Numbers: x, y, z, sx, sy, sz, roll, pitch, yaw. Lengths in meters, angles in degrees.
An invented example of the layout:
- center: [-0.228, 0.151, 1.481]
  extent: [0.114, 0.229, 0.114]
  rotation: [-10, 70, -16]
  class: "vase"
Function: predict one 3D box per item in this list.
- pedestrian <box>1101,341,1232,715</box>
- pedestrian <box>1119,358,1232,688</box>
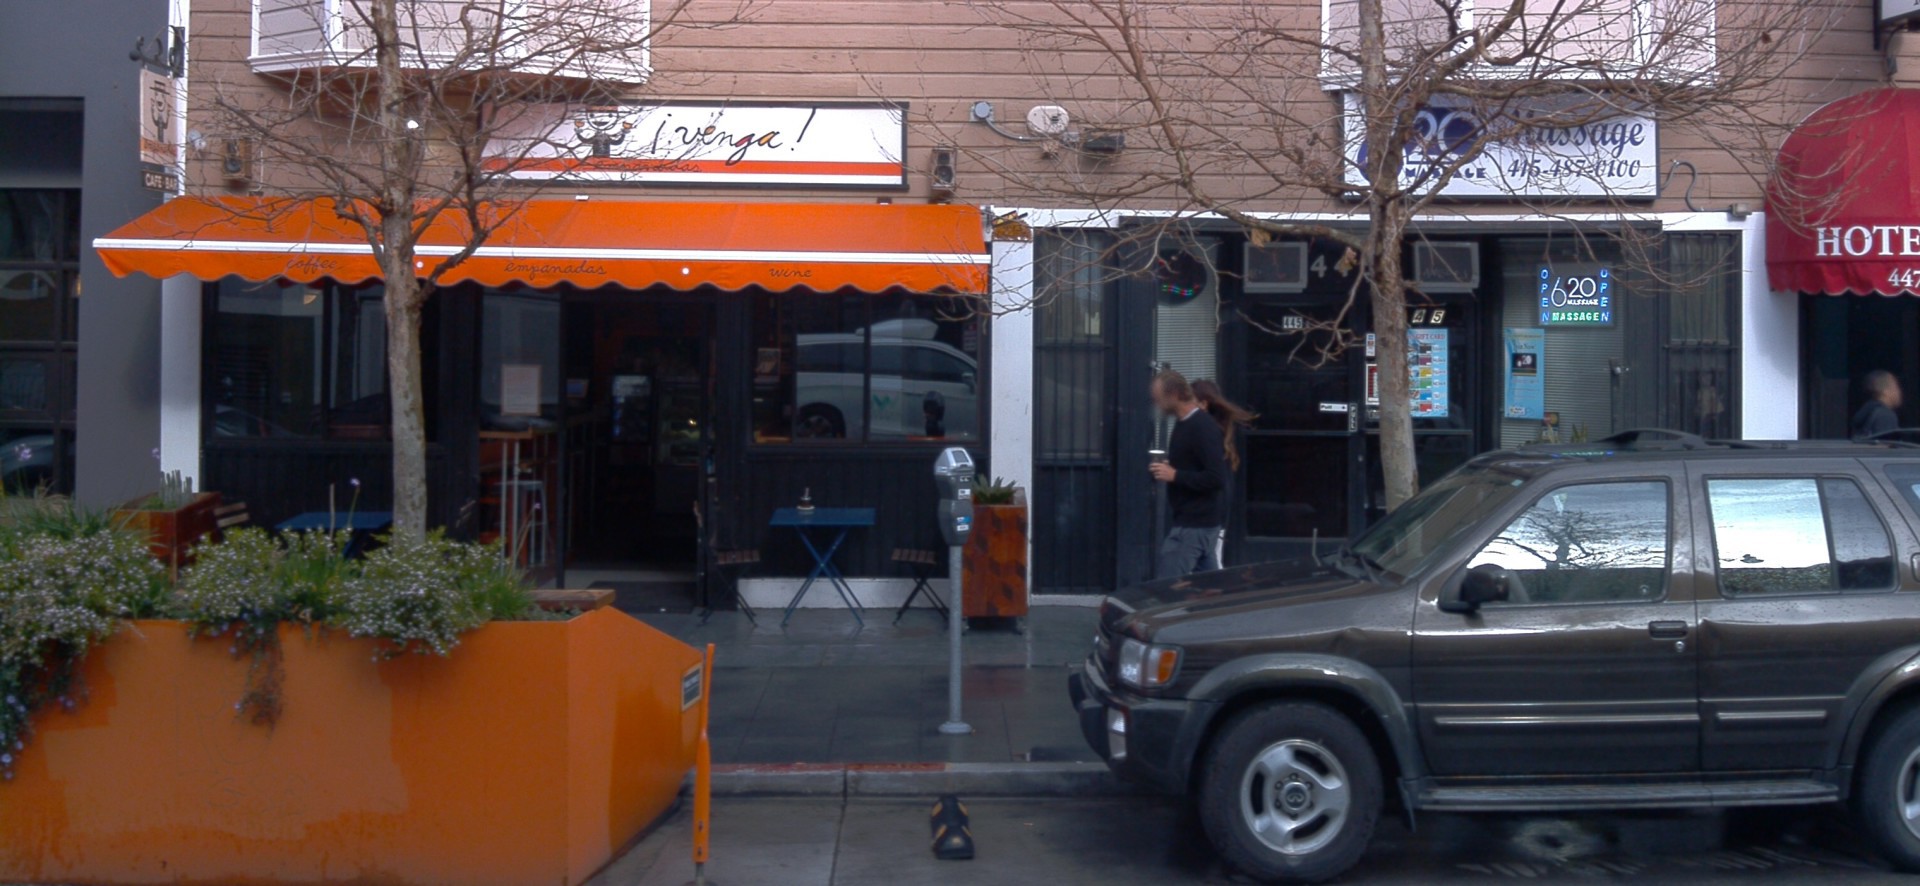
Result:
- center: [1.138, 0.435, 11.393]
  extent: [0.693, 1.936, 0.815]
  rotation: [0, 2, 5]
  class: "pedestrian"
- center: [1.264, 0.444, 12.172]
  extent: [0.643, 1.836, 0.735]
  rotation: [0, 2, 4]
  class: "pedestrian"
